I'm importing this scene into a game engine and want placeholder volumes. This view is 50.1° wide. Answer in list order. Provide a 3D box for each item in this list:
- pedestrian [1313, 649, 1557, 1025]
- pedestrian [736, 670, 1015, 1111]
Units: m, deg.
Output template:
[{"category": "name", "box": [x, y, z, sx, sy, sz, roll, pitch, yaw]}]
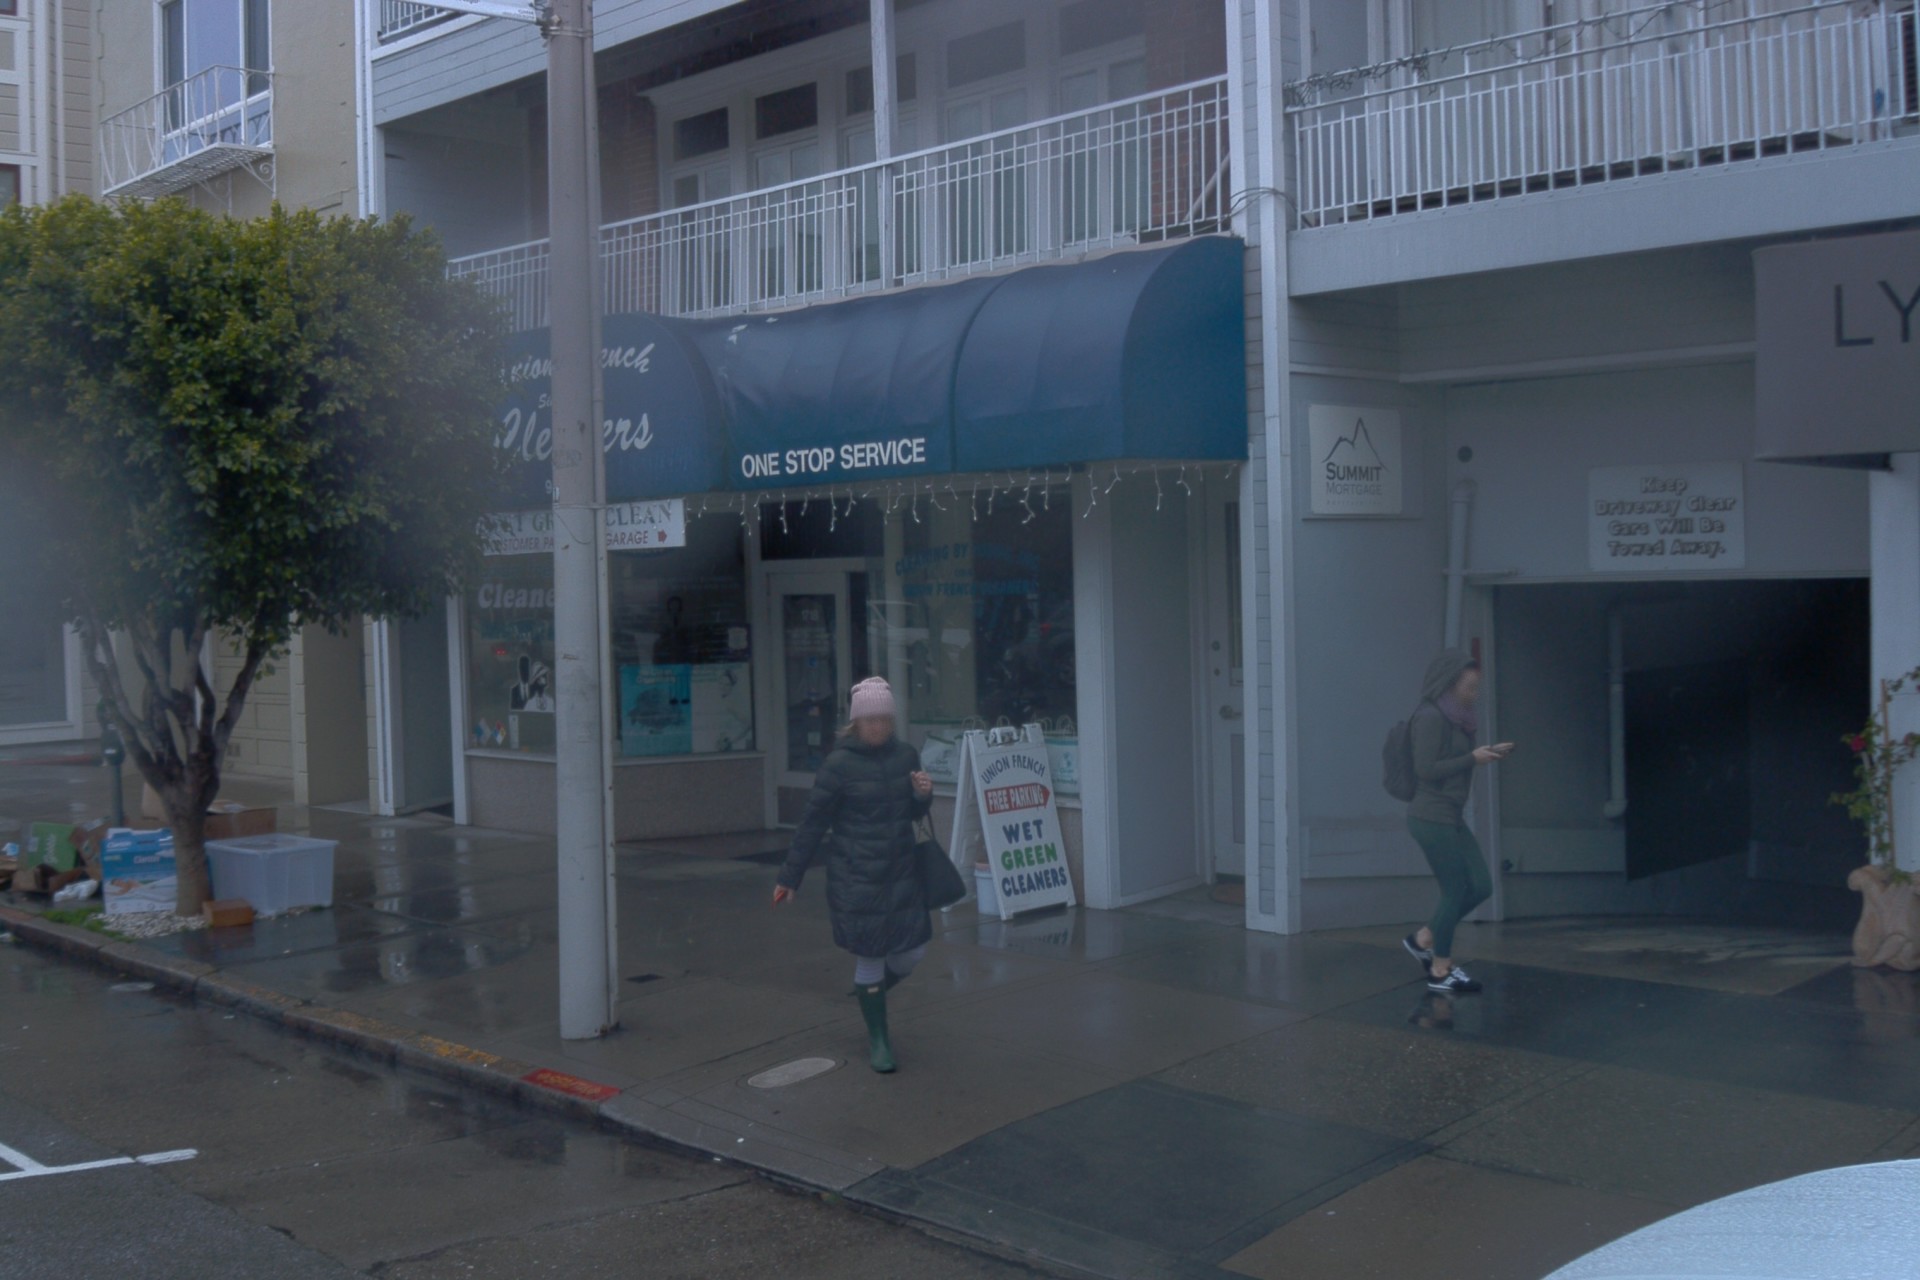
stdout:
[{"category": "pedestrian", "box": [2.286, 0.899, 9.882, 0.962, 1.700, 0.677, 1, 1, 31]}, {"category": "pedestrian", "box": [-0.380, 1.013, 8.842, 0.914, 1.750, 0.929, 0, 0, -23]}]
